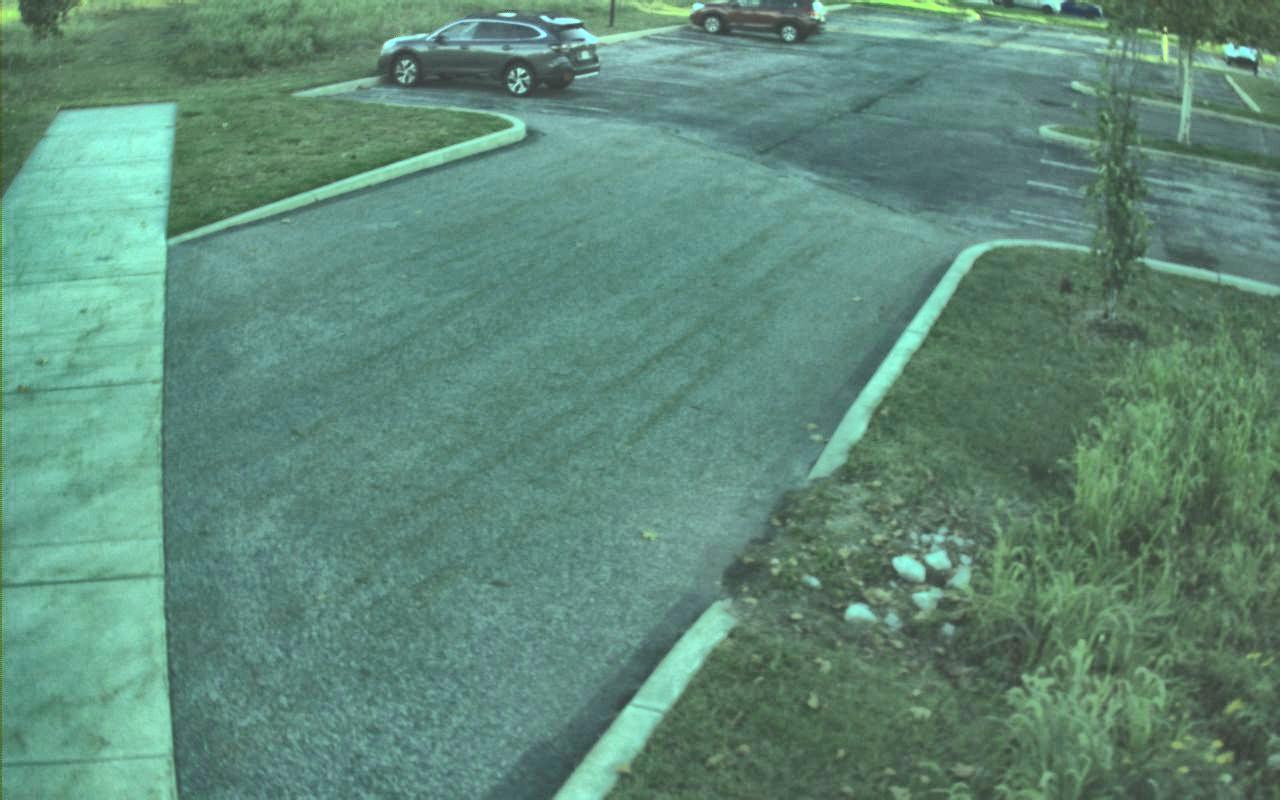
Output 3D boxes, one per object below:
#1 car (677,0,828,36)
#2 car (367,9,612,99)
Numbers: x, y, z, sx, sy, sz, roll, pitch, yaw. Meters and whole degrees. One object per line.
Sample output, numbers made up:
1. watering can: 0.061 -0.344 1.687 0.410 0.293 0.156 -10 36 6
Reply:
1. car: 3.804 -13.073 41.092 4.738 1.699 2.035 4 16 17
2. car: -3.160 -7.144 25.327 4.731 1.660 2.020 6 17 23
